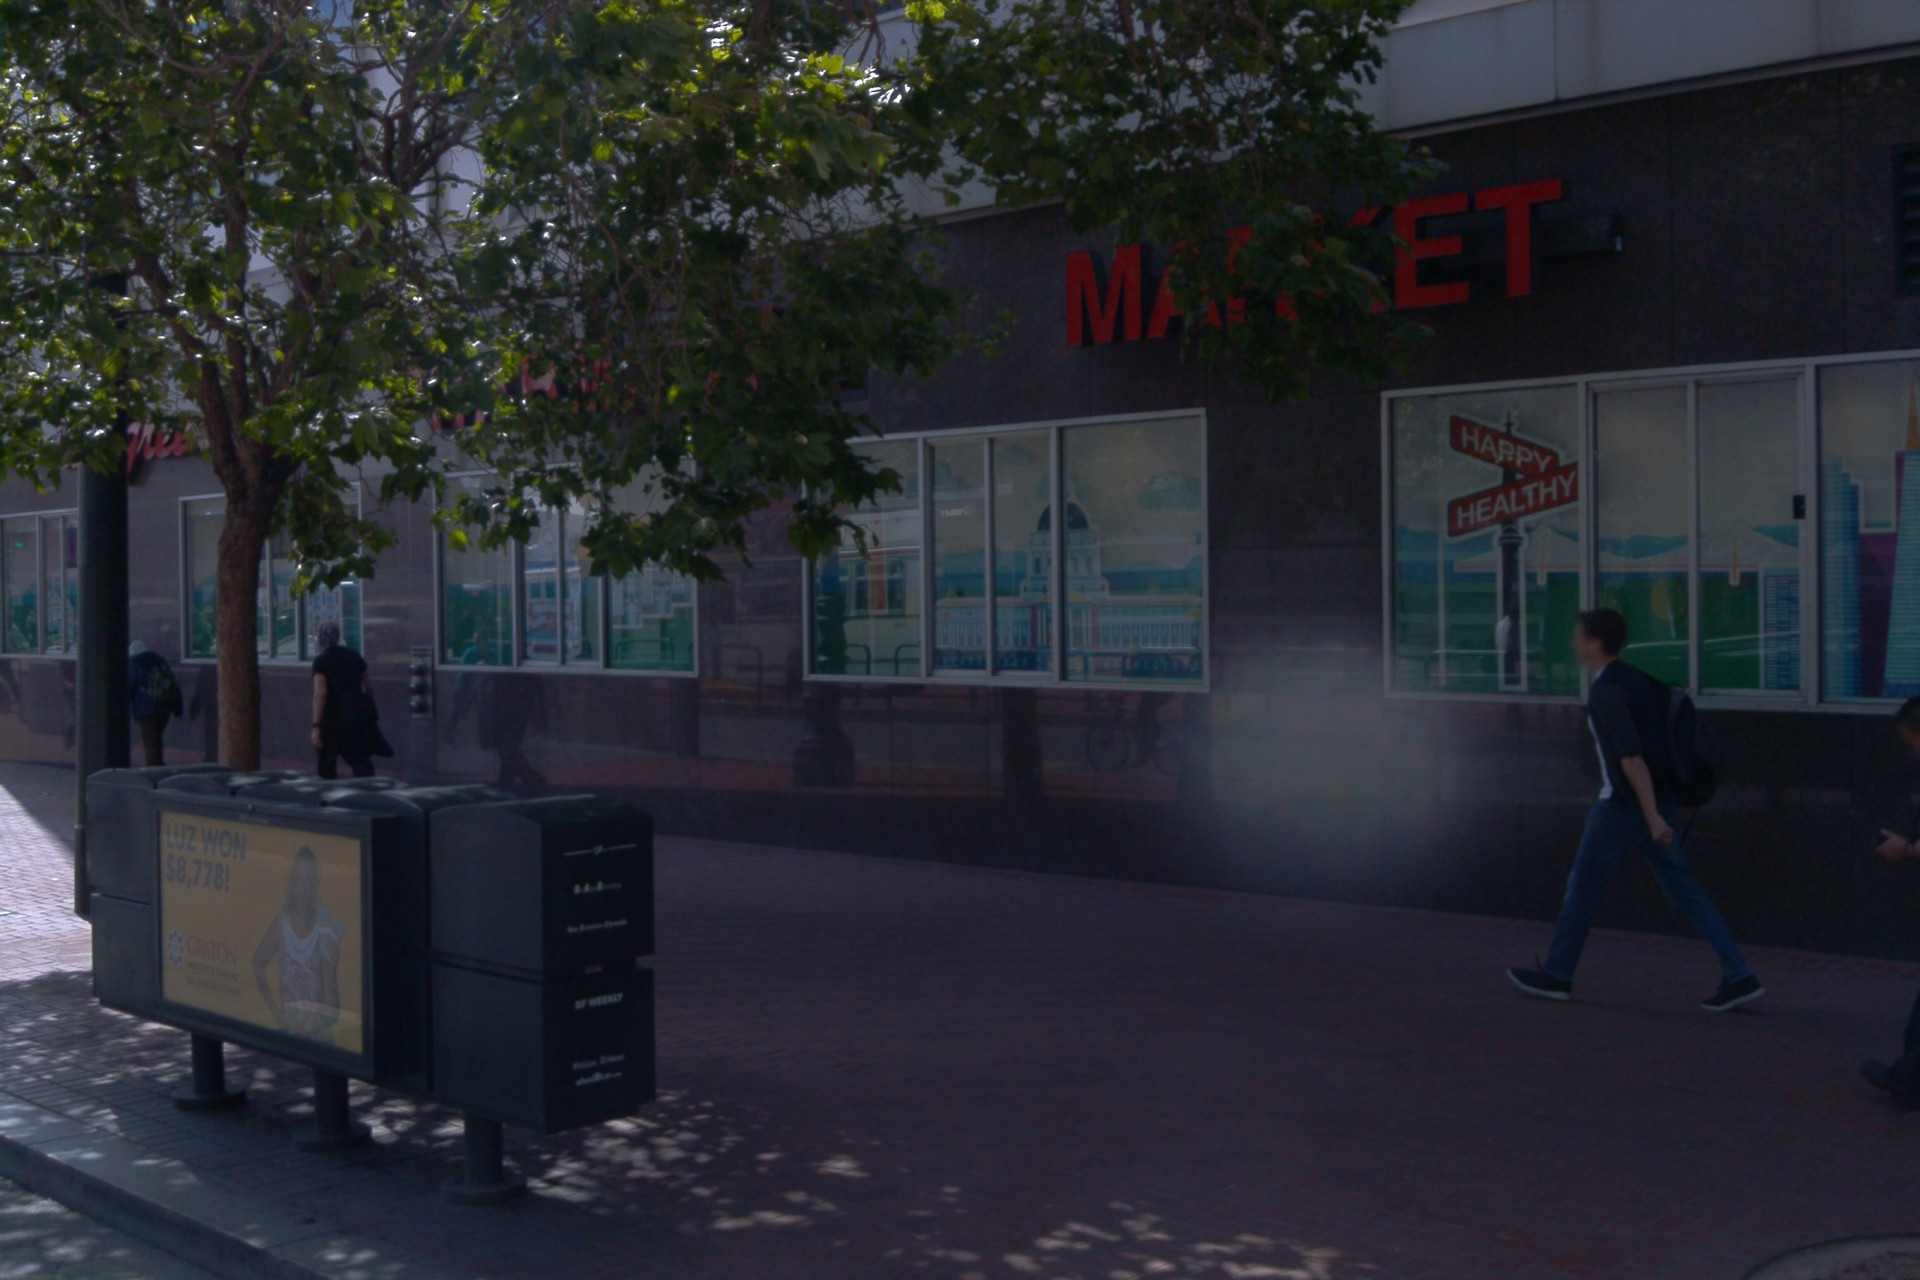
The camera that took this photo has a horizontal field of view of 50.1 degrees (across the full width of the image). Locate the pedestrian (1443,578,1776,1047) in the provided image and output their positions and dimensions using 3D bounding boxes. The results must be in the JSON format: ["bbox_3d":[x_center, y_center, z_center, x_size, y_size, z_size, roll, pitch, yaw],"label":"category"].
[{"bbox_3d":[2.969,0.723,9.407,1.235,1.980,0.861,0,0,37],"label":"pedestrian"}]

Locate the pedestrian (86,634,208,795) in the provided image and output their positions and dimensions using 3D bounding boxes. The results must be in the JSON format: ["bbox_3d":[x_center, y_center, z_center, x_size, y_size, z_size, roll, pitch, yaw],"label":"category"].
[{"bbox_3d":[-8.790,0.782,22.216,0.875,1.680,1.061,0,0,-45],"label":"pedestrian"}]

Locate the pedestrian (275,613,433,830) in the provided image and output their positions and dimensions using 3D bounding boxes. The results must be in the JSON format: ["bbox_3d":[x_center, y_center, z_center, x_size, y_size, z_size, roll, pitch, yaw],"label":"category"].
[{"bbox_3d":[-5.518,0.707,18.704,0.912,1.900,1.192,0,0,-45],"label":"pedestrian"}]
